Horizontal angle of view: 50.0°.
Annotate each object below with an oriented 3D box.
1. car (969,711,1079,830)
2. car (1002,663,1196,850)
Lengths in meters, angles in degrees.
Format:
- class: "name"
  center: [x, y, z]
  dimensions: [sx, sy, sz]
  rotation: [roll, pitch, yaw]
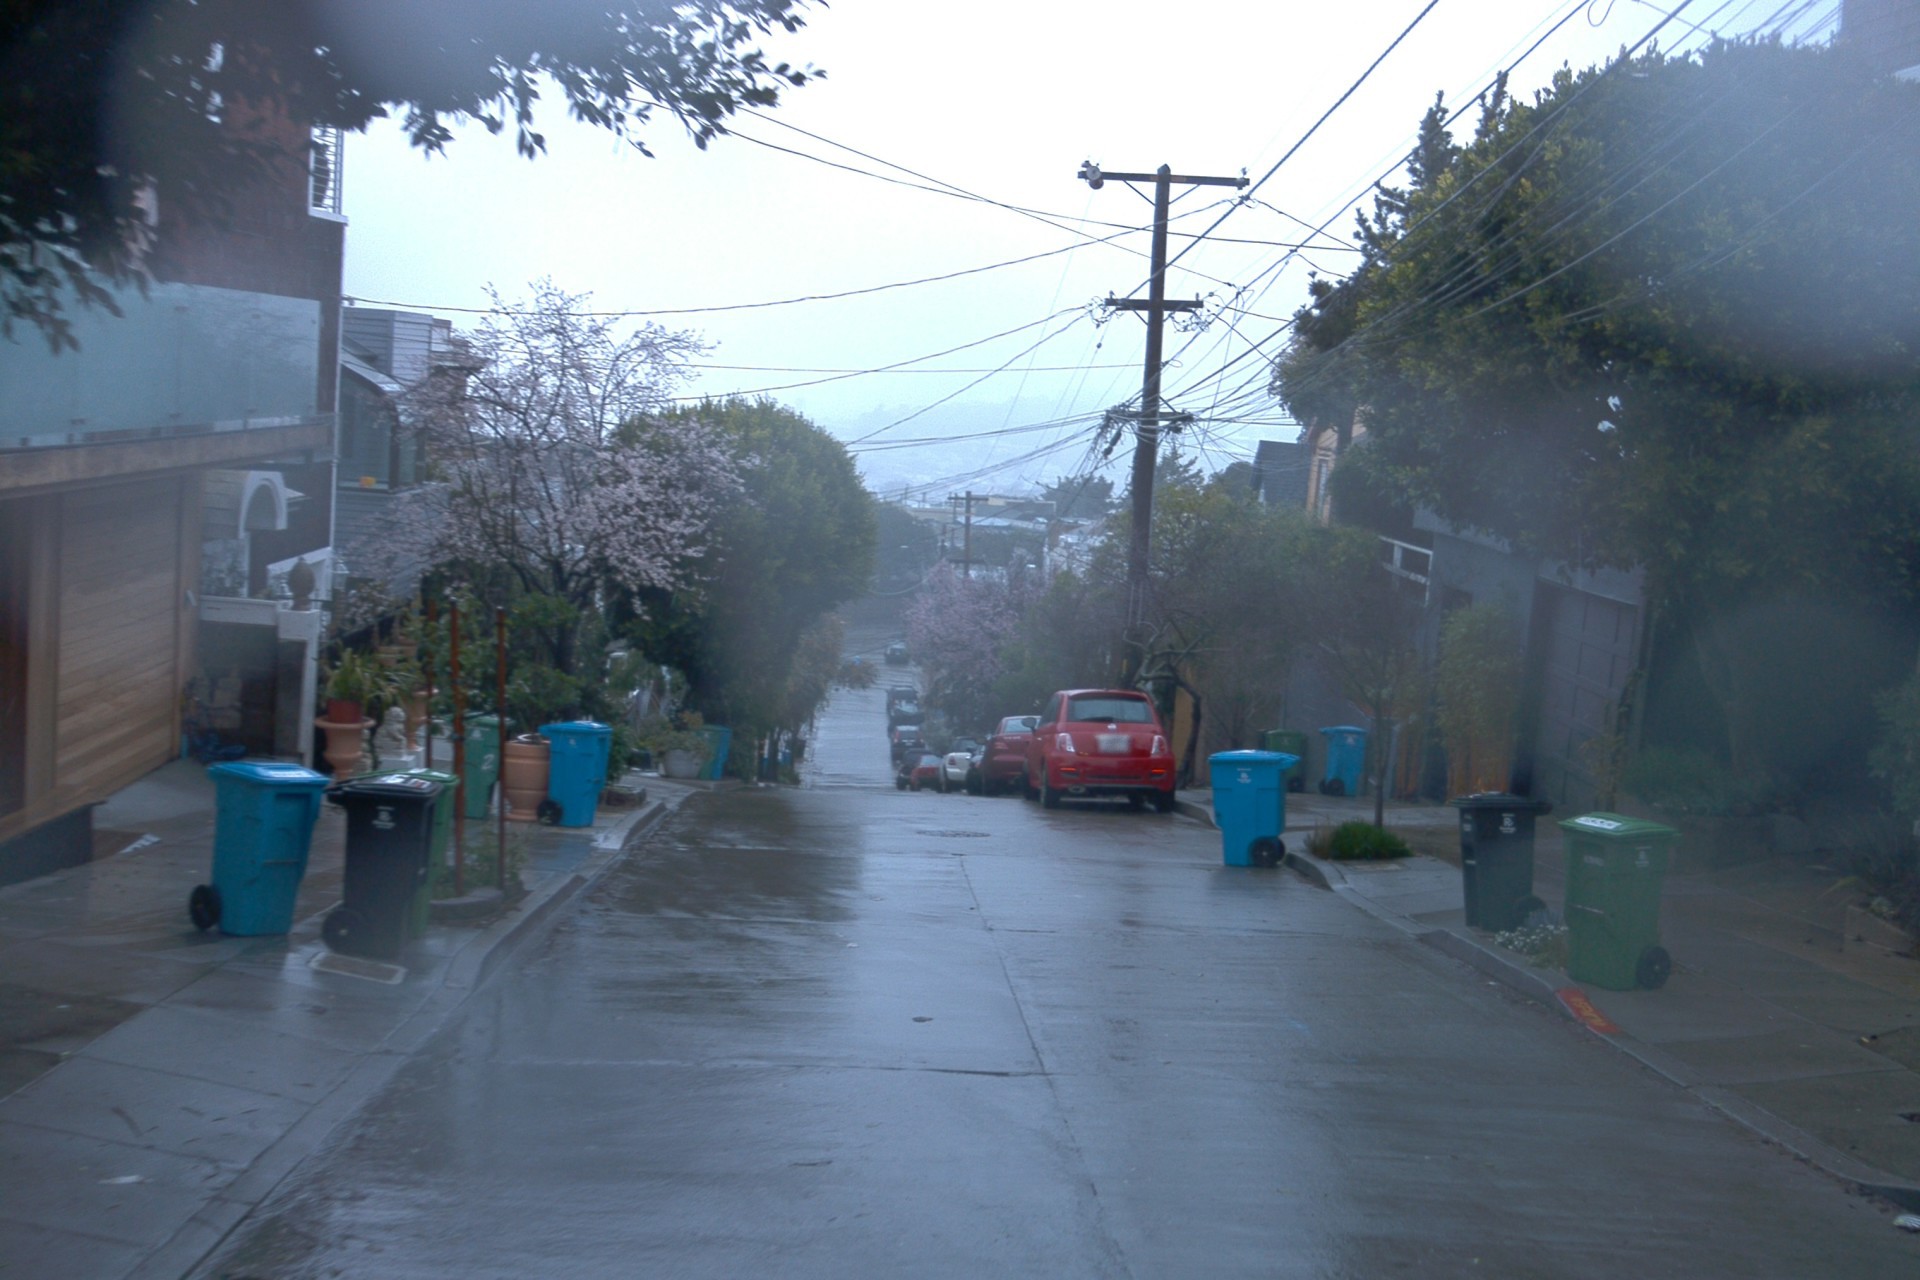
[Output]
- class: "car"
  center: [0.940, 1.955, 31.501]
  dimensions: [1.423, 1.595, 2.850]
  rotation: [1, 0, -3]
- class: "car"
  center: [1.694, 1.407, 26.387]
  dimensions: [1.892, 2.118, 3.866]
  rotation: [1, 0, -4]
